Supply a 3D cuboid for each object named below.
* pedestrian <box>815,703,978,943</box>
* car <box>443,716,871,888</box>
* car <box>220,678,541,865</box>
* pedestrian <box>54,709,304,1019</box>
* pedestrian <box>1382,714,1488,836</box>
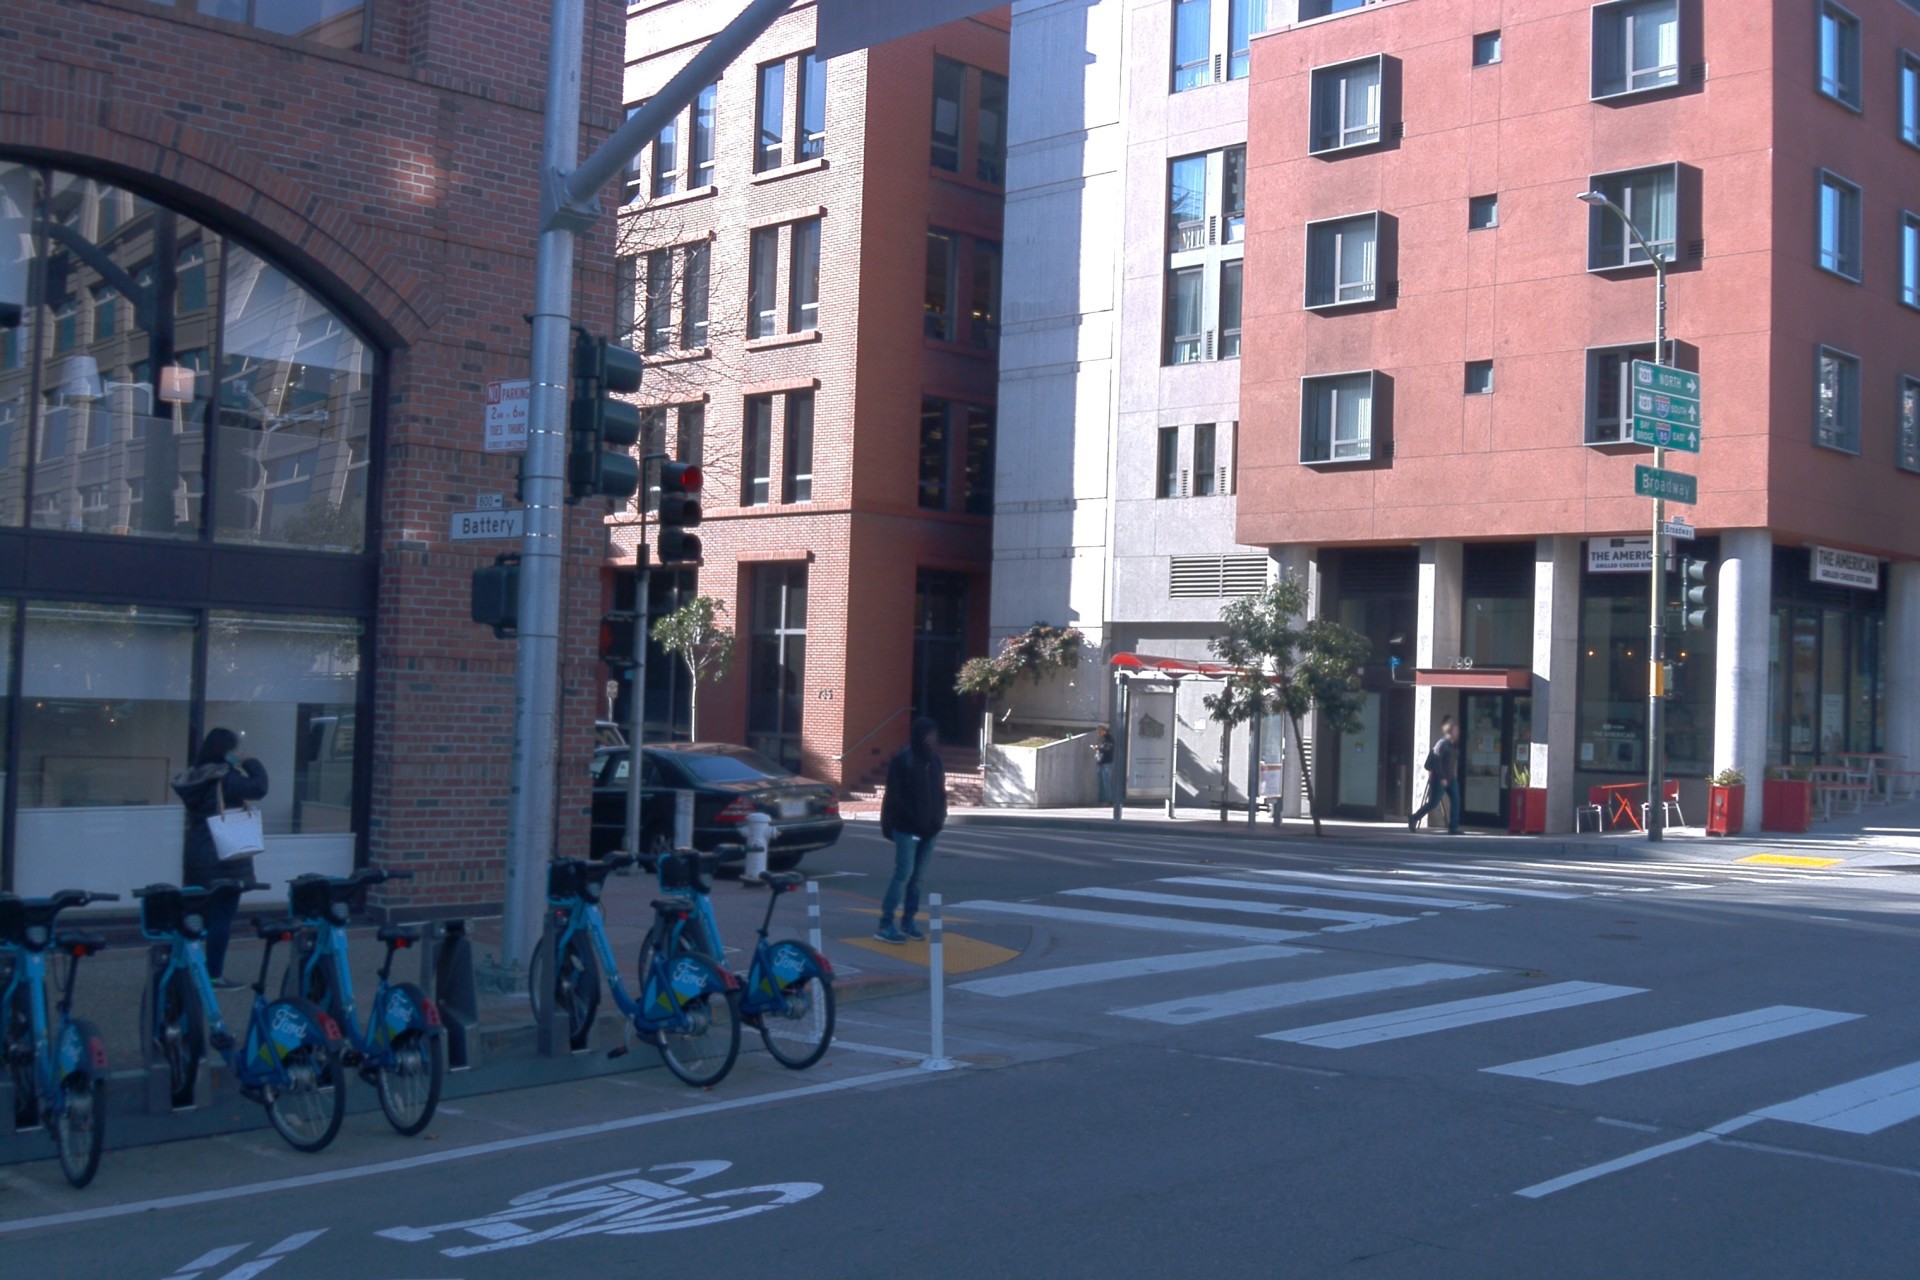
[{"bbox_3d":[-0.481,1.359,15.793,0.885,1.730,0.836,2,-1,-44],"label":"pedestrian"},{"bbox_3d":[-3.557,1.750,23.729,5.063,1.590,2.055,0,-1,42],"label":"car"},{"bbox_3d":[-7.909,1.674,28.081,4.658,2.230,2.104,0,-1,45],"label":"car"},{"bbox_3d":[-4.657,1.286,12.405,0.980,1.710,0.992,0,-1,38],"label":"pedestrian"},{"bbox_3d":[7.868,2.212,34.413,1.208,1.940,1.221,2,-1,-42],"label":"pedestrian"}]
